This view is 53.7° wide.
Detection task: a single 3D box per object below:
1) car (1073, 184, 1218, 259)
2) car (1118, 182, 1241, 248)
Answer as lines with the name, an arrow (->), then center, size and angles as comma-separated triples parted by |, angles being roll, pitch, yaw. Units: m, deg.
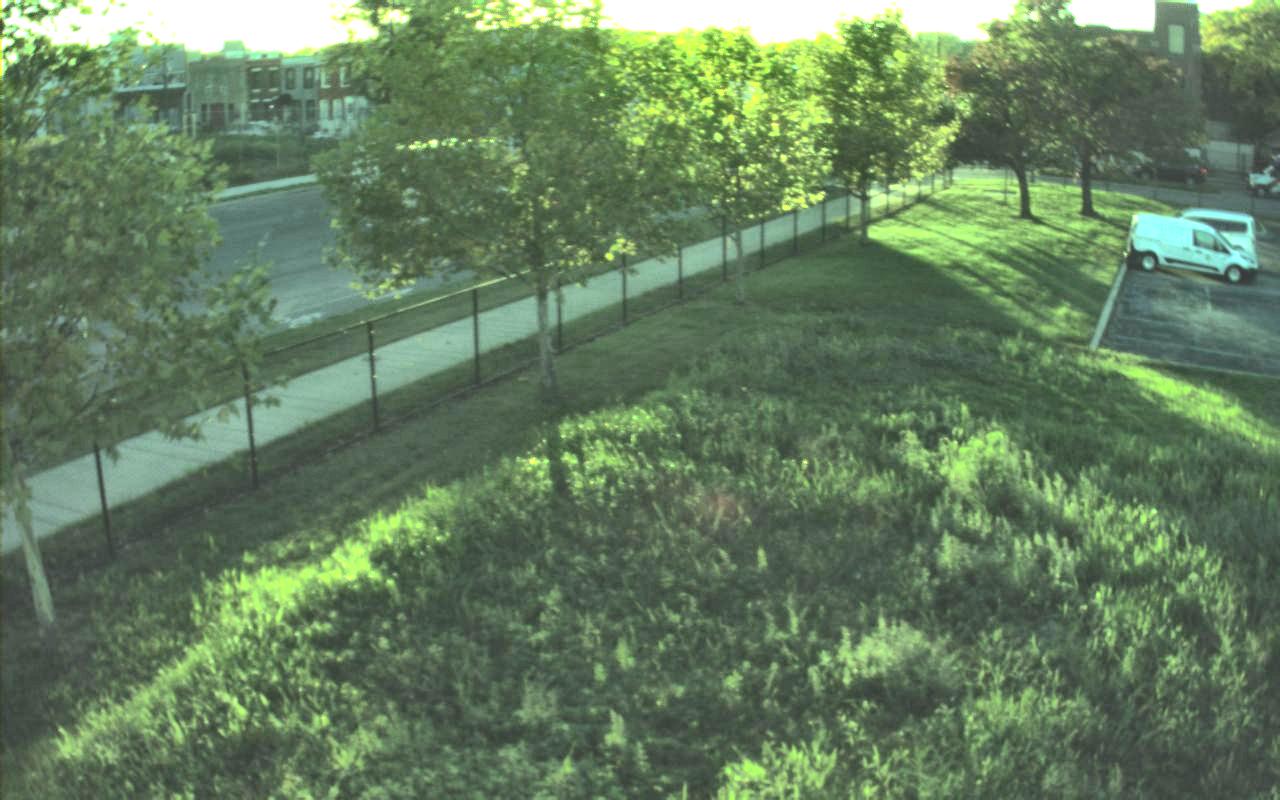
car -> 16.943, -5.936, 39.350 | 4.945, 1.899, 2.100 | 5, 17, 21
car -> 20.023, -6.798, 43.134 | 4.708, 1.866, 2.097 | 5, 17, 20
